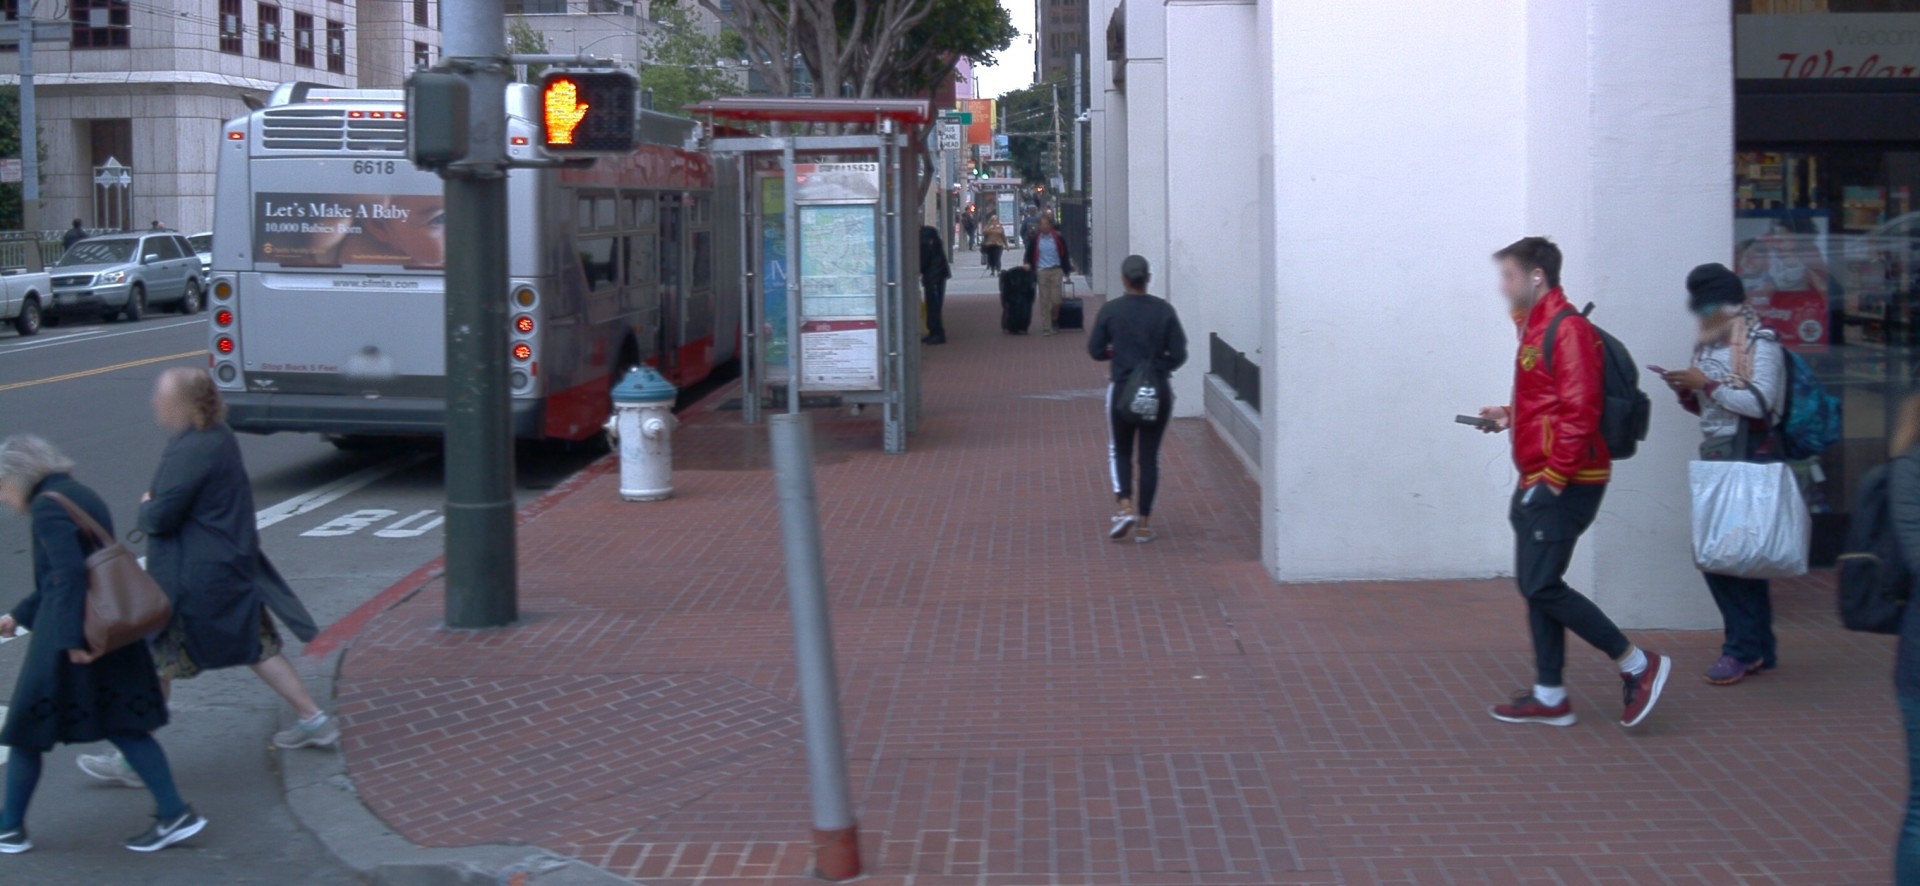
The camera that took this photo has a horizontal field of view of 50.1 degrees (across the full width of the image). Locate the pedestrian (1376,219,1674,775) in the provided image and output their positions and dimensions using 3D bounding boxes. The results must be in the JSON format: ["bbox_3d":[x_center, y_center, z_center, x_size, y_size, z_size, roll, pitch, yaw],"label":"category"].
[{"bbox_3d":[2.015,0.141,7.445,0.978,1.895,0.717,0,1,10],"label":"pedestrian"}]

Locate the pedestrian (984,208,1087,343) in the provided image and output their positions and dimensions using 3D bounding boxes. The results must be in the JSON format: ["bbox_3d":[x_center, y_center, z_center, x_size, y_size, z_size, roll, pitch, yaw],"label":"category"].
[{"bbox_3d":[1.068,-2.424,29.565,1.445,1.884,1.400,0,2,0],"label":"pedestrian"}]

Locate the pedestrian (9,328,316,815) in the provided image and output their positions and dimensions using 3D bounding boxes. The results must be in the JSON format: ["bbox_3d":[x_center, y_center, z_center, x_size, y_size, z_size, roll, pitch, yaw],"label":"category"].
[{"bbox_3d":[-2.999,0.439,7.807,0.916,1.715,0.742,0,1,-6],"label":"pedestrian"}]

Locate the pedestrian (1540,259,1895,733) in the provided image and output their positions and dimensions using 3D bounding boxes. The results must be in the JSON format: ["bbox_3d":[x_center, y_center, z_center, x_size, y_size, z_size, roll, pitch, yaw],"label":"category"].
[{"bbox_3d":[2.924,0.147,8.028,0.981,1.715,0.965,0,2,-6],"label":"pedestrian"}]

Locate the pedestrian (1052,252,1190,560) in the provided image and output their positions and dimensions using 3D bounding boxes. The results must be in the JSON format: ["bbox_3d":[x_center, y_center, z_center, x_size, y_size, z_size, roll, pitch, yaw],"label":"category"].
[{"bbox_3d":[0.888,-0.240,11.514,0.695,1.655,0.867,0,1,-1],"label":"pedestrian"}]
